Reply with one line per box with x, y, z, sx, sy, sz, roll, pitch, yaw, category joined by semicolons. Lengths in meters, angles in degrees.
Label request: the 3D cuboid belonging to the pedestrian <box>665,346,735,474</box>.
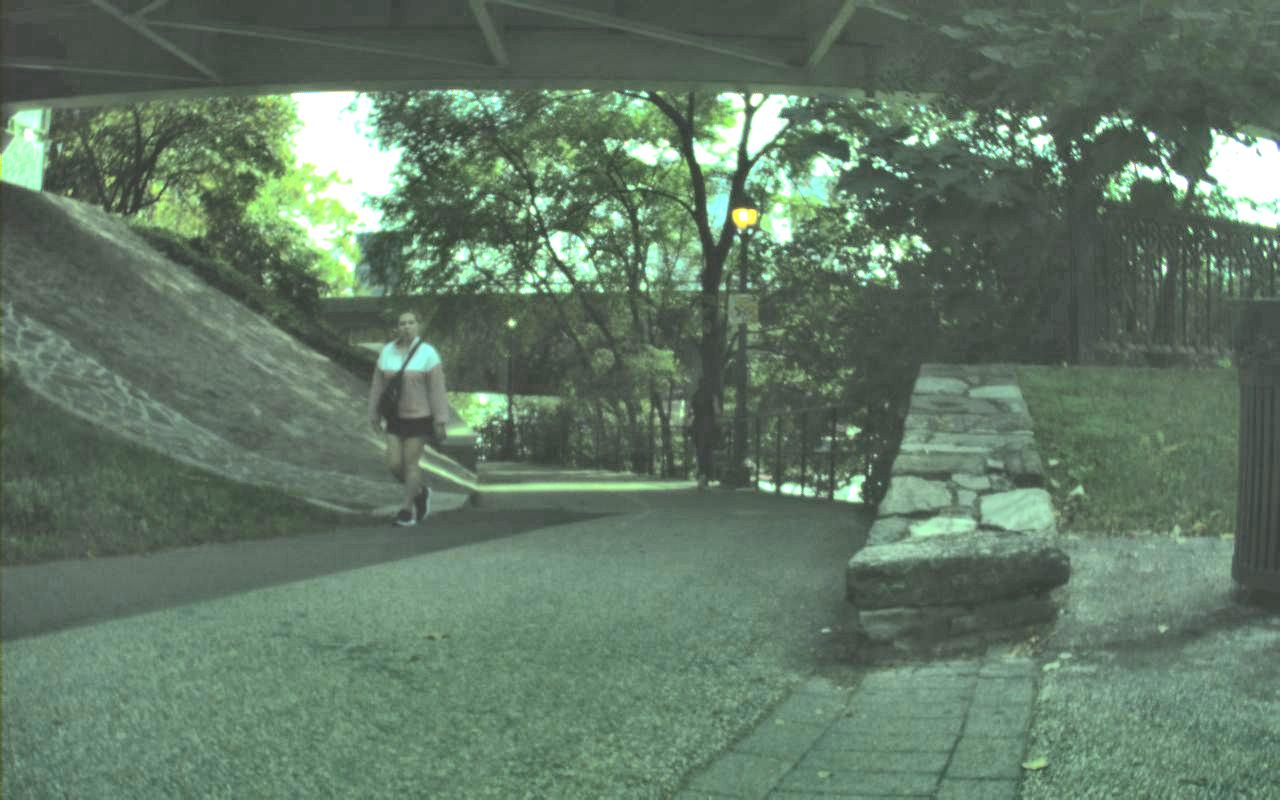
0.842;0.126;17.904;0.827;1.768;0.878;0;0;-9;pedestrian

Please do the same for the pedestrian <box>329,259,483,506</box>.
-1.698;-0.130;9.039;0.817;1.692;0.870;1;0;17;pedestrian
